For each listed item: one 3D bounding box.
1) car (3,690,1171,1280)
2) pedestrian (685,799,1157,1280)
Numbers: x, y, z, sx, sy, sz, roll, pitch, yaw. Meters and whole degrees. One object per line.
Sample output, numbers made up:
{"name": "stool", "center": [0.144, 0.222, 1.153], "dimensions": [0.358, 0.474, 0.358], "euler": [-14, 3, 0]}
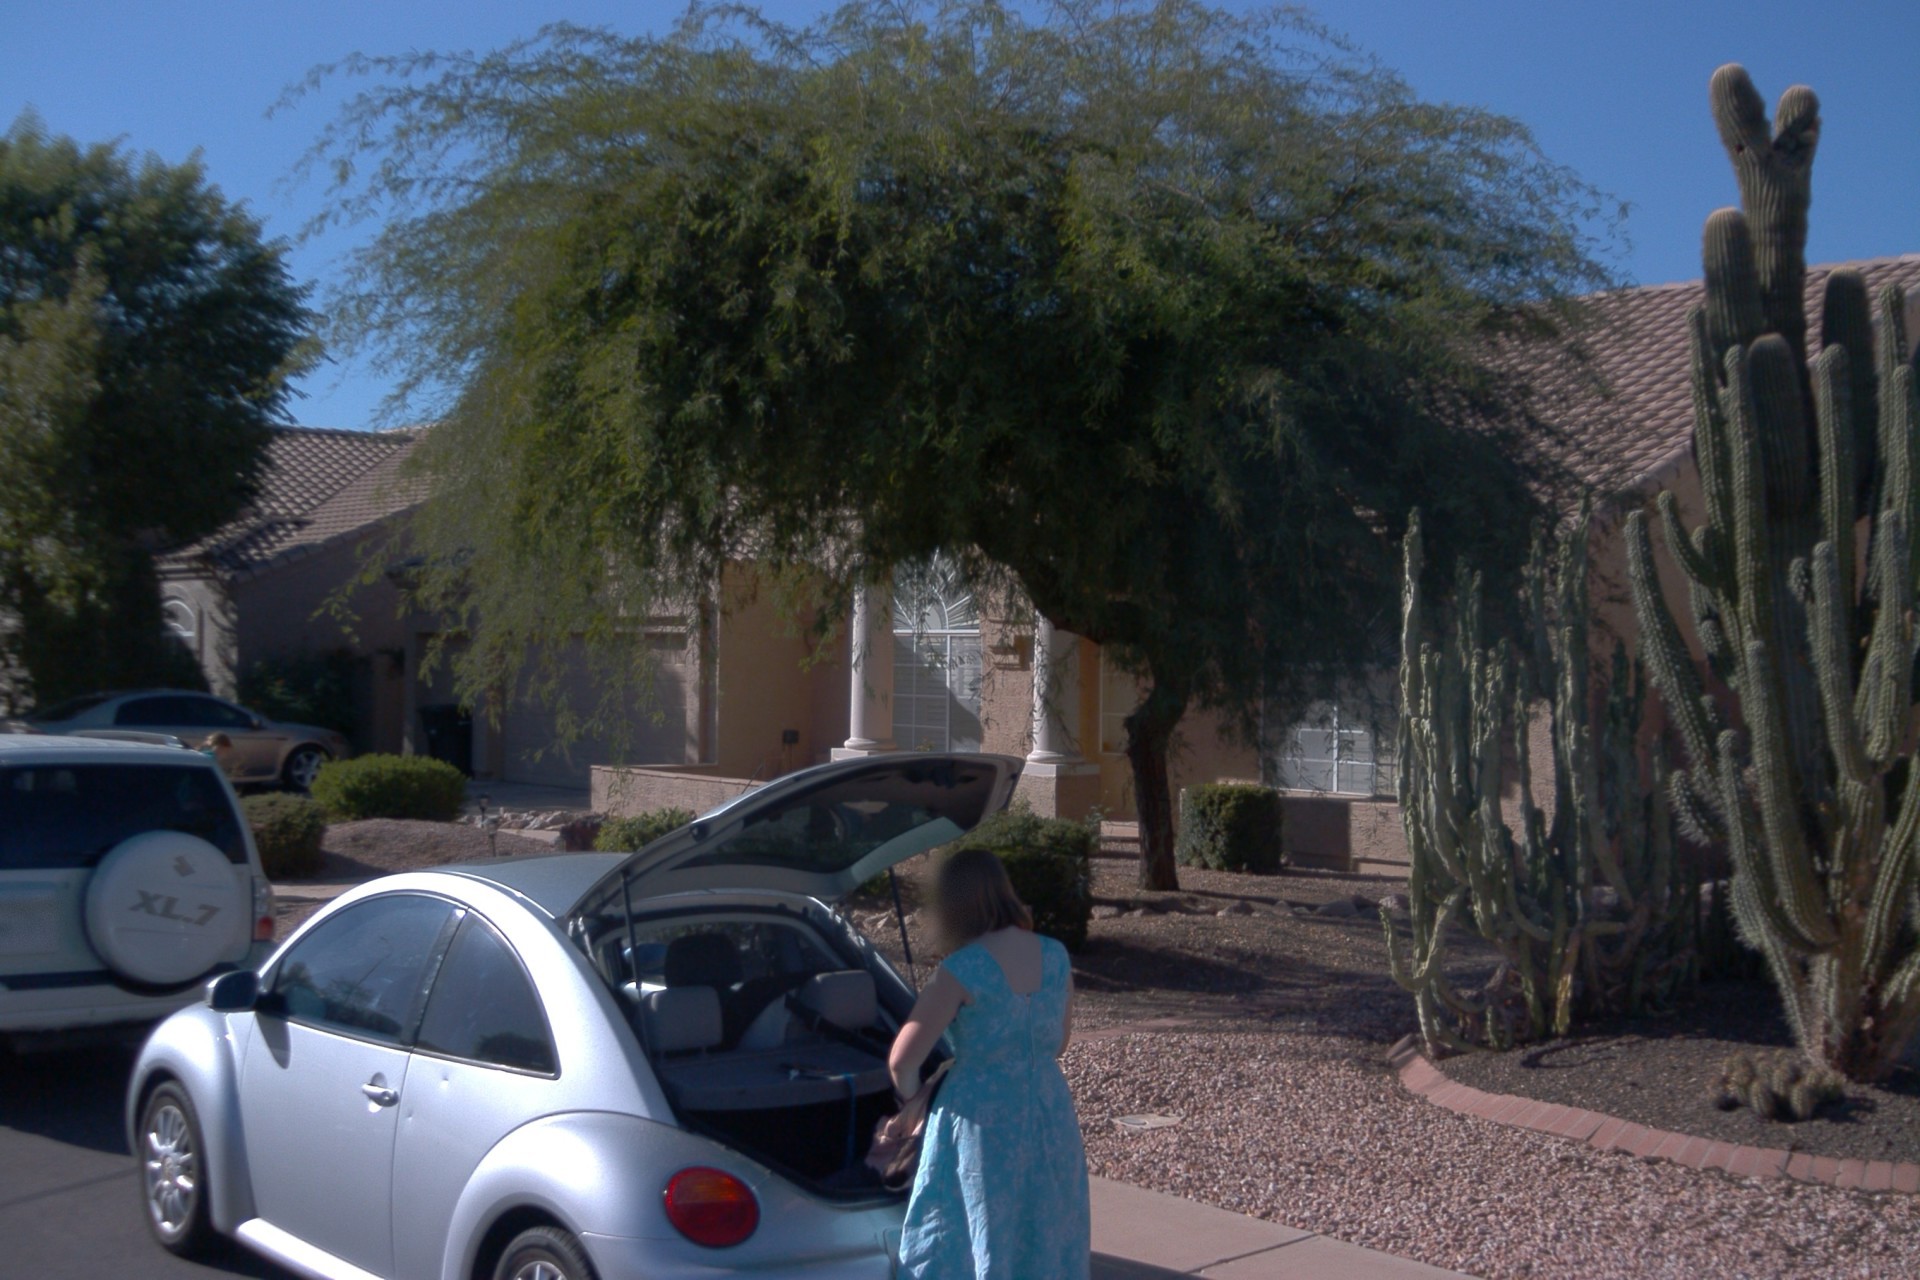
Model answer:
{"name": "car", "center": [-1.469, 1.203, 6.986], "dimensions": [1.884, 1.980, 4.034], "euler": [1, 0, -45]}
{"name": "pedestrian", "center": [-0.104, 1.319, 5.614], "dimensions": [0.874, 1.690, 0.901], "euler": [1, 0, 44]}
